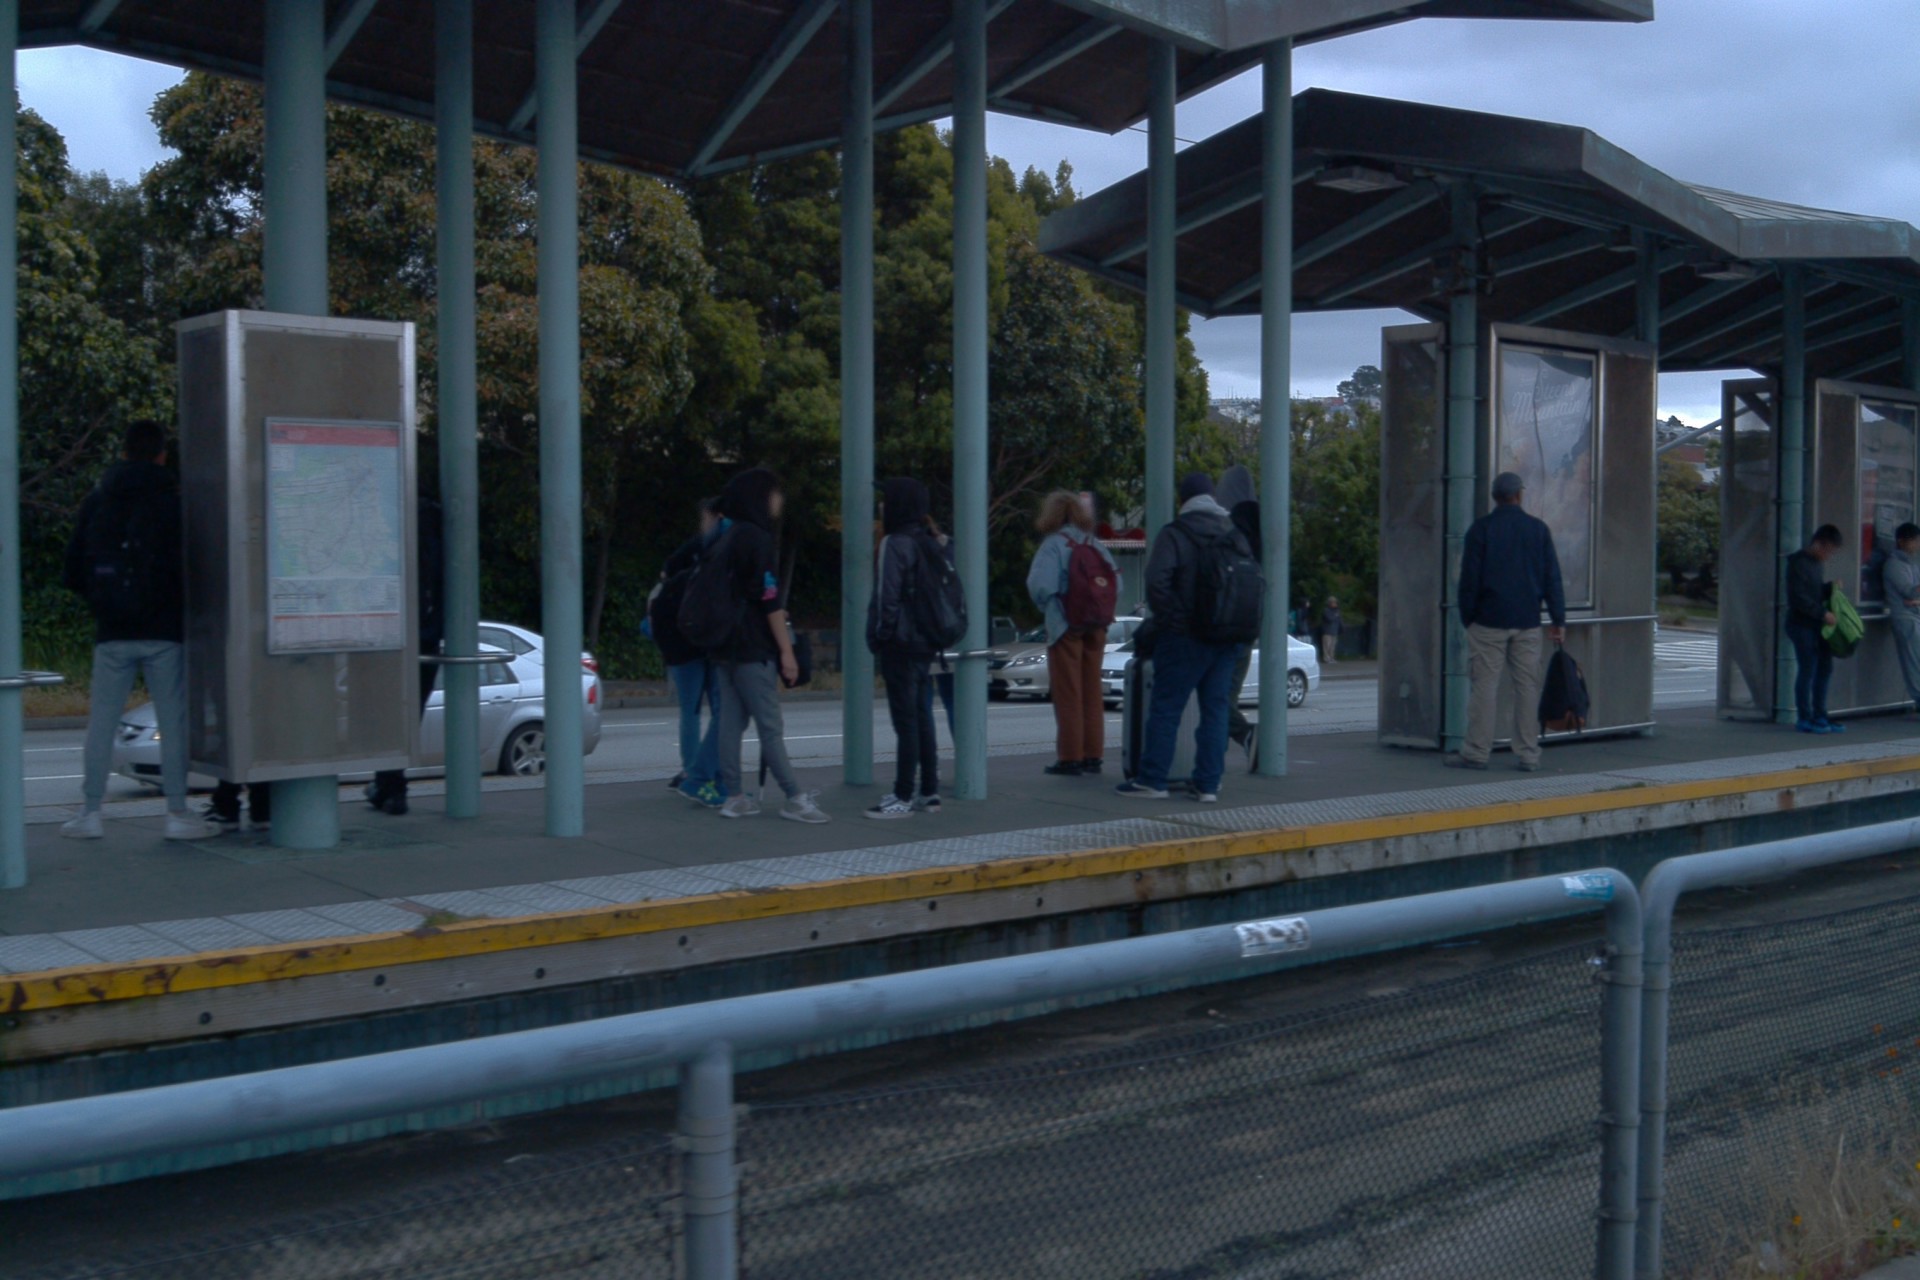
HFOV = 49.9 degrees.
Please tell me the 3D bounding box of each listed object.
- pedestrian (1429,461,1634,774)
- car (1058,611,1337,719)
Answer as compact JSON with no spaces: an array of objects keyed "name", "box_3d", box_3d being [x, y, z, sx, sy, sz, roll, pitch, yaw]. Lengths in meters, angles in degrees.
[{"name":"pedestrian","box_3d":[3.460,-0.139,12.566,1.024,1.840,0.837,0,1,1]},{"name":"car","box_3d":[3.765,0.335,32.202,4.454,1.560,1.850,-1,1,-42]}]
